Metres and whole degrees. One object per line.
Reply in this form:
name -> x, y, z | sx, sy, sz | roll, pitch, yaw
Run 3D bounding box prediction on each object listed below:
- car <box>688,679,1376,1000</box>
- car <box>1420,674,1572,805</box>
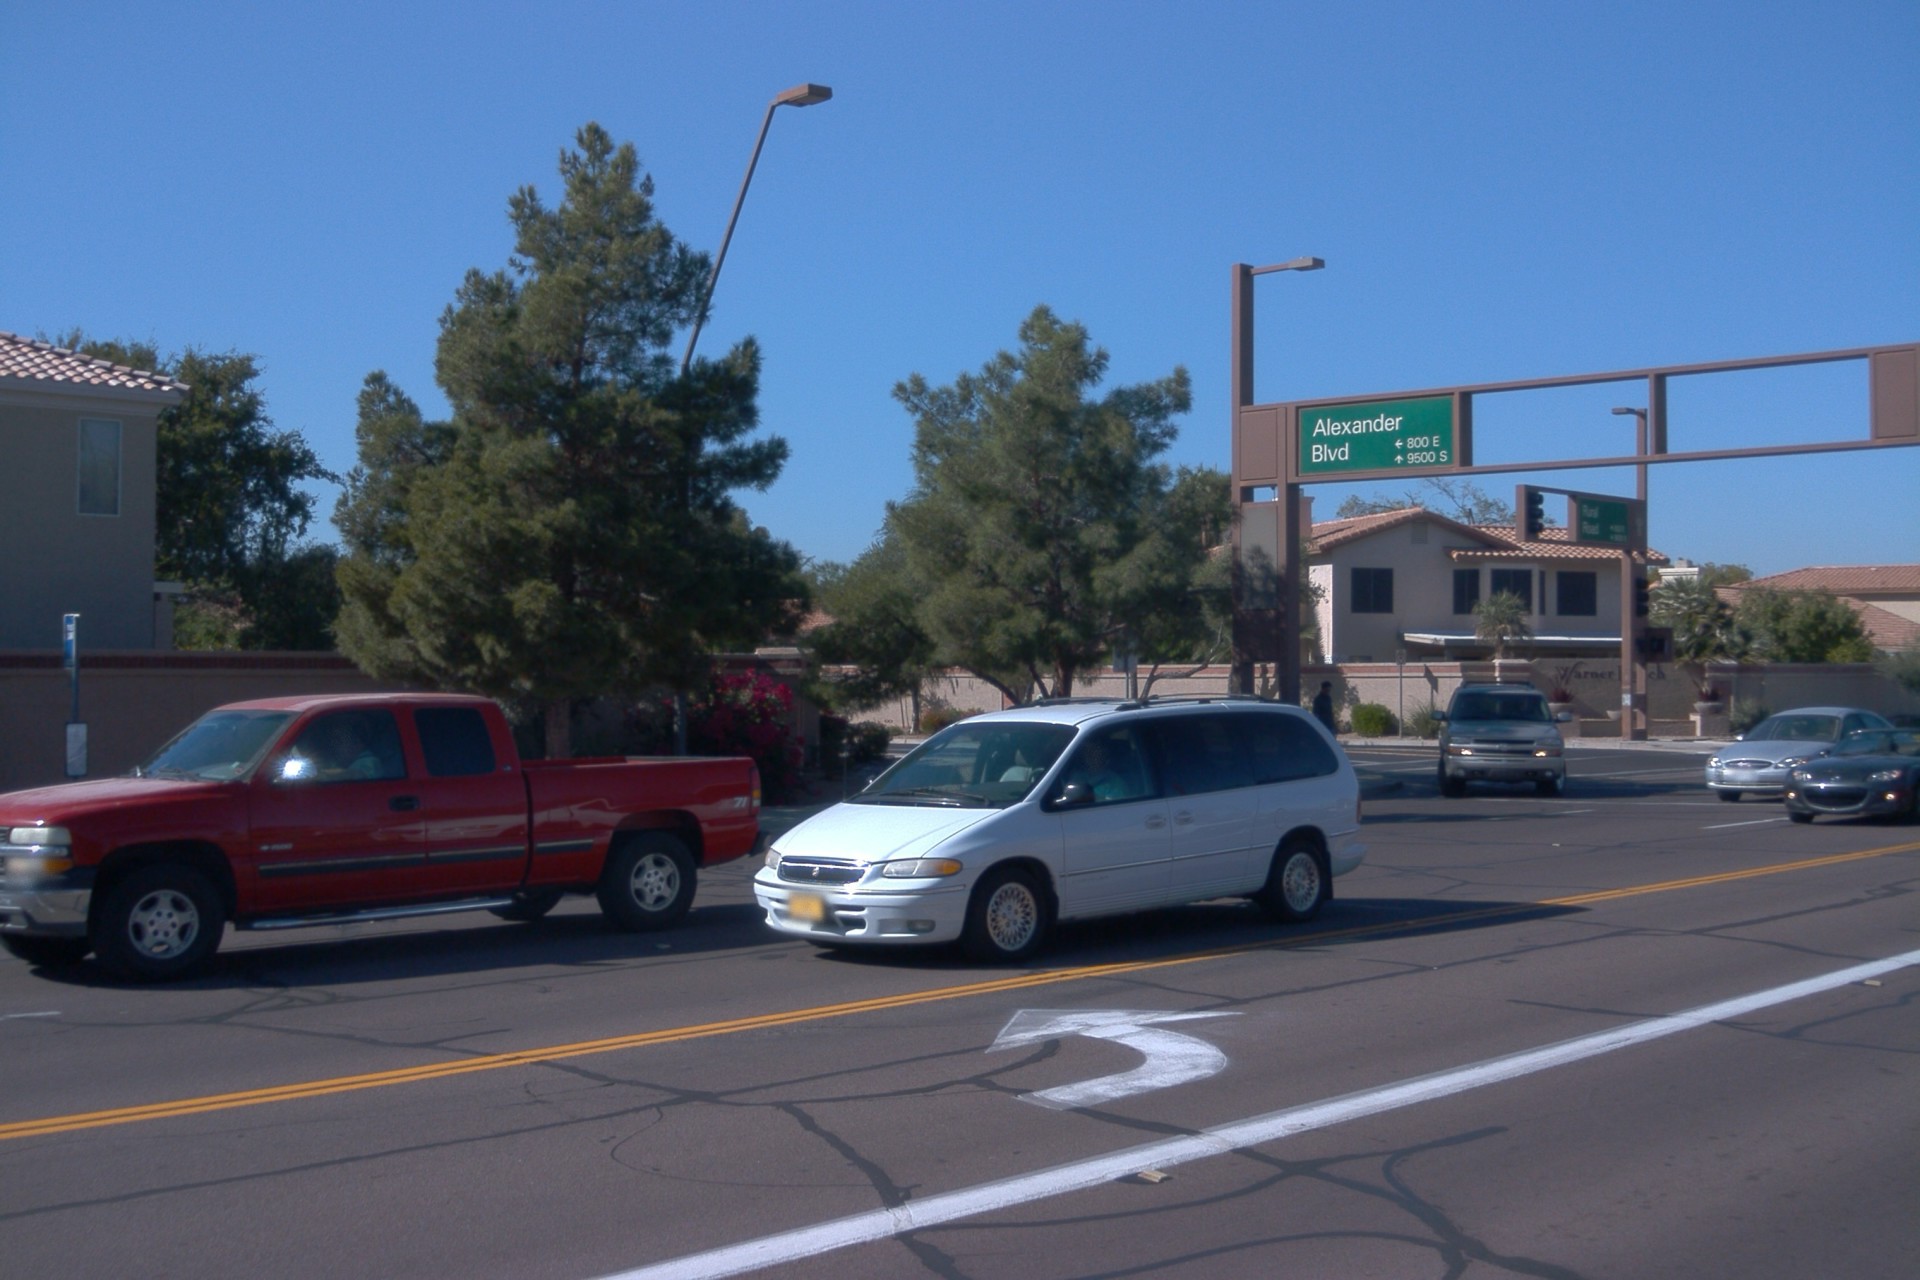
car -> 0.695, 1.269, 15.291 | 5.011, 1.900, 2.195 | 1, 0, -45
car -> 9.362, 1.660, 36.551 | 2.386, 2.020, 5.141 | 1, 0, 13
